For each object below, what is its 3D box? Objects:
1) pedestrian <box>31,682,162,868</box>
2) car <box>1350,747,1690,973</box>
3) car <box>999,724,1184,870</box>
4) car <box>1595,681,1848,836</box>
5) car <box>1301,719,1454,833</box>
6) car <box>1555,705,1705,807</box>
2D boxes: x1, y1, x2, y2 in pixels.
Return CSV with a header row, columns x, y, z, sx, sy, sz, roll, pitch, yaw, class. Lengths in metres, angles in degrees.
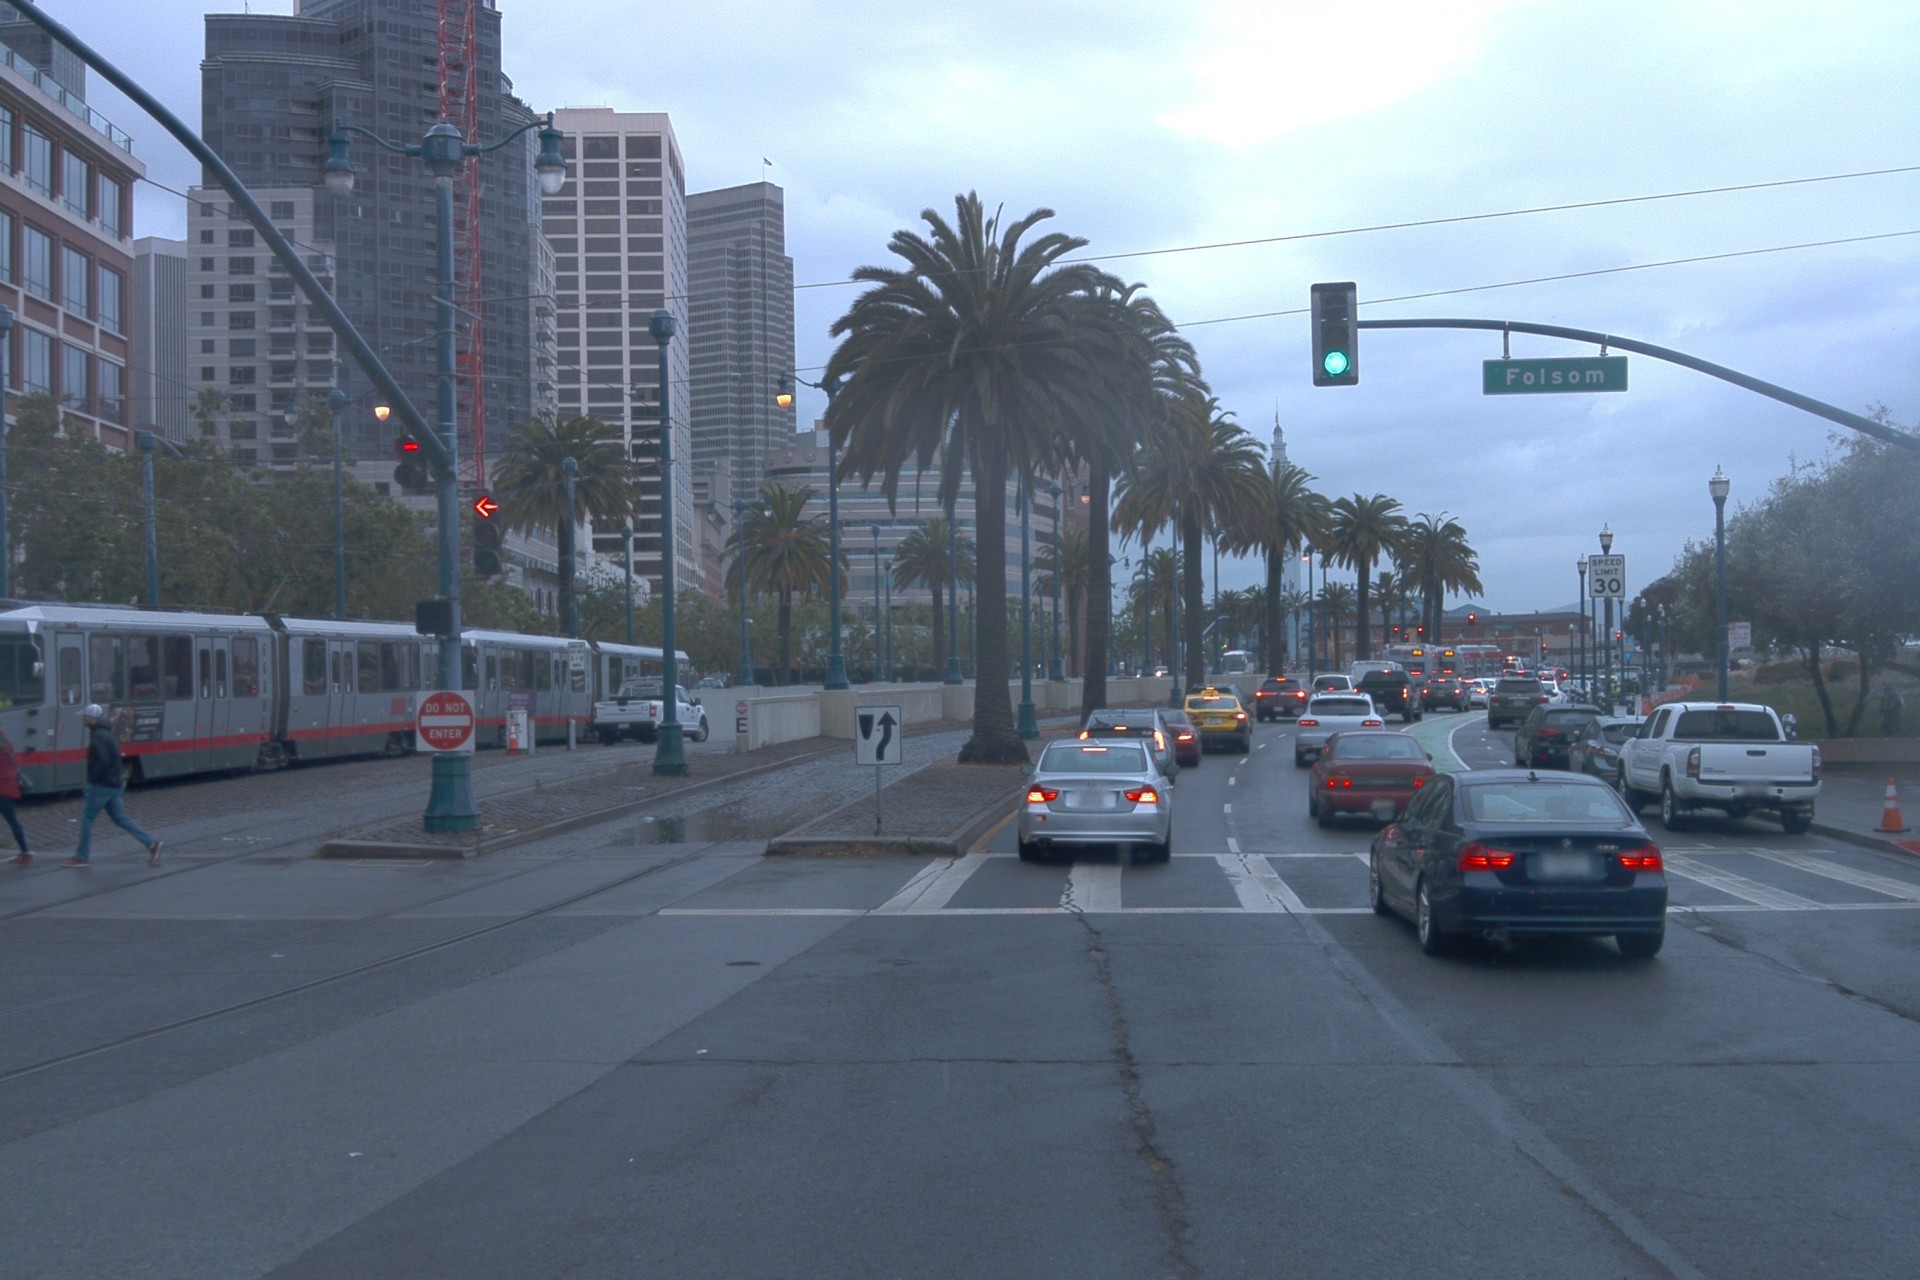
x,y,z,sx,sy,sz,roll,pitch,yaw,class
-9.545,1.472,22.970,1.182,2.000,0.824,0,-1,-10,pedestrian
4.434,1.694,17.092,1.869,1.450,4.345,0,-1,4,car
1.717,1.855,25.584,2.066,1.510,4.627,0,-1,6,car
10.842,1.613,29.991,2.264,2.000,5.411,0,-1,7,car
6.000,1.923,30.204,1.923,1.450,3.945,0,-1,8,car
11.662,1.975,36.356,2.029,1.610,4.251,0,-1,11,car
